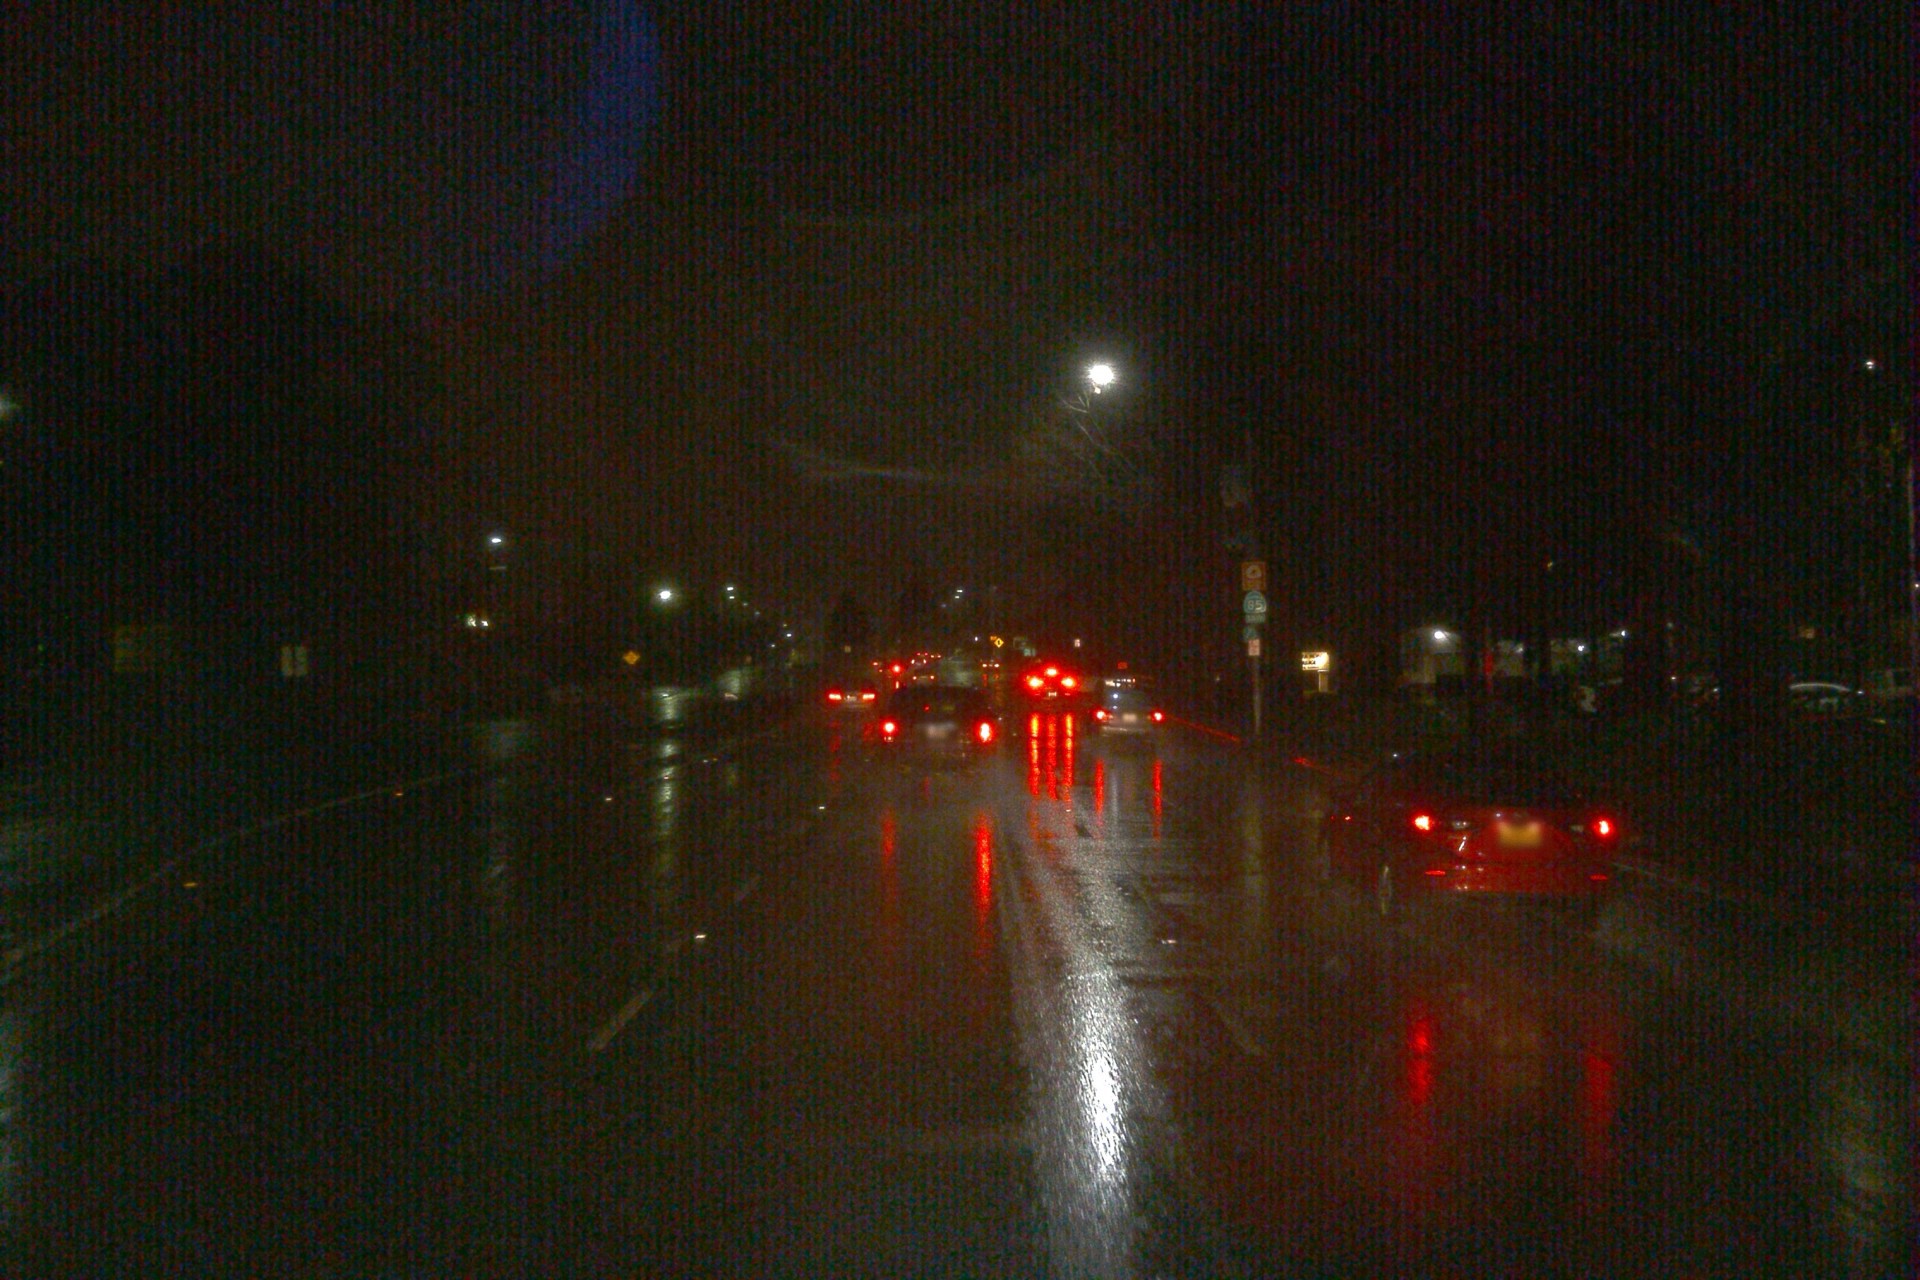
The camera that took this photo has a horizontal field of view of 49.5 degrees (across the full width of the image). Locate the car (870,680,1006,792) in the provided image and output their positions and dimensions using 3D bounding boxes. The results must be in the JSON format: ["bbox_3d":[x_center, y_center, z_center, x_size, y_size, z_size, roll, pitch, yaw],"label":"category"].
[{"bbox_3d":[-0.356,1.630,36.524,2.222,1.800,4.381,0,-1,0],"label":"car"}]

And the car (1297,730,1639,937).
[{"bbox_3d":[4.300,1.599,18.365,1.963,1.470,4.264,0,-1,0],"label":"car"}]
